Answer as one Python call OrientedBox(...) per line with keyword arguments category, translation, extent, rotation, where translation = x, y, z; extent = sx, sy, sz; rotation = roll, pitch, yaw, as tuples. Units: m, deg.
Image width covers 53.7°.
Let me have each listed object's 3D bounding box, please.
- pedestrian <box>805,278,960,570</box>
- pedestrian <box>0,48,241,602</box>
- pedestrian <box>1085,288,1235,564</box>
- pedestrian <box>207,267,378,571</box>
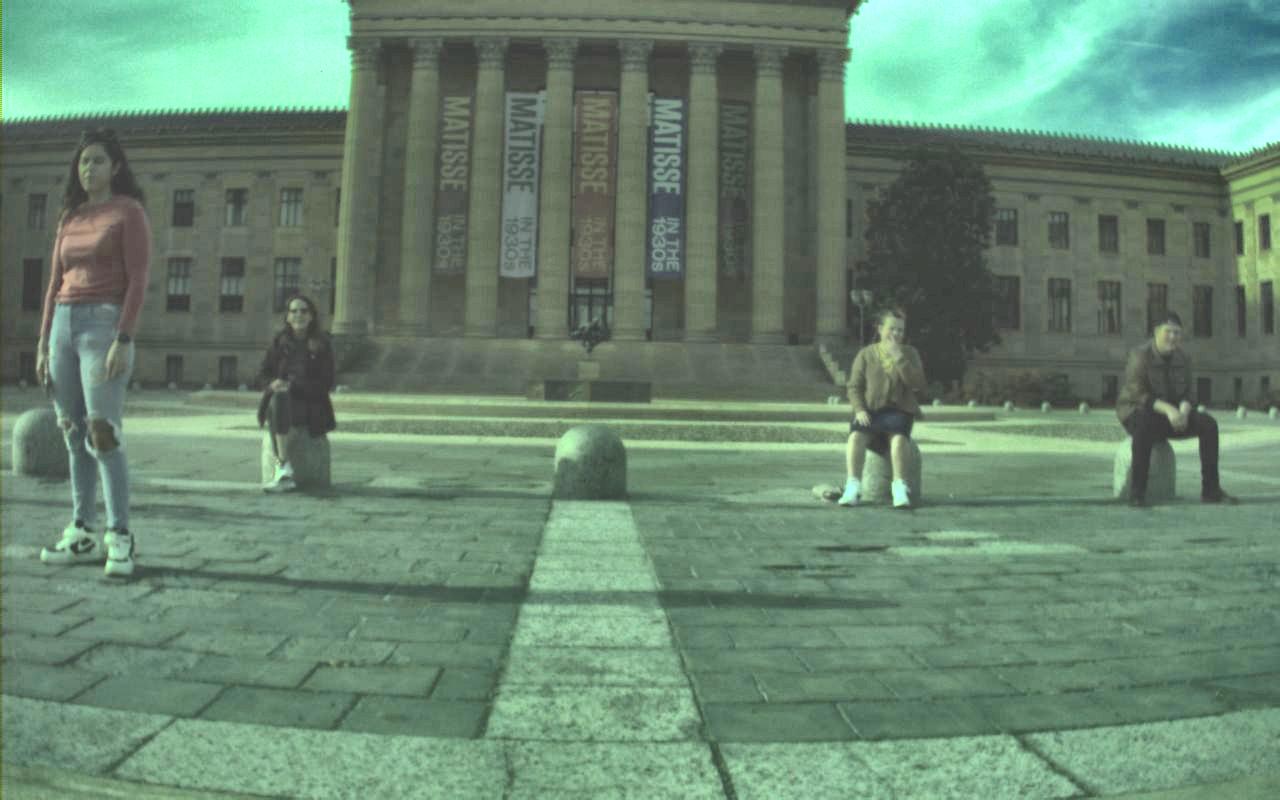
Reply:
OrientedBox(category="pedestrian", translation=(1.524, 0.144, 7.901), extent=(0.809, 1.753, 0.812), rotation=(0, 0, -3))
OrientedBox(category="pedestrian", translation=(-1.986, -0.254, 4.170), extent=(0.790, 1.807, 0.793), rotation=(0, 0, 9))
OrientedBox(category="pedestrian", translation=(3.491, 0.178, 7.890), extent=(0.839, 1.760, 0.845), rotation=(0, 0, 7))
OrientedBox(category="pedestrian", translation=(-2.204, 0.110, 7.721), extent=(0.838, 1.805, 0.849), rotation=(0, 0, 9))
